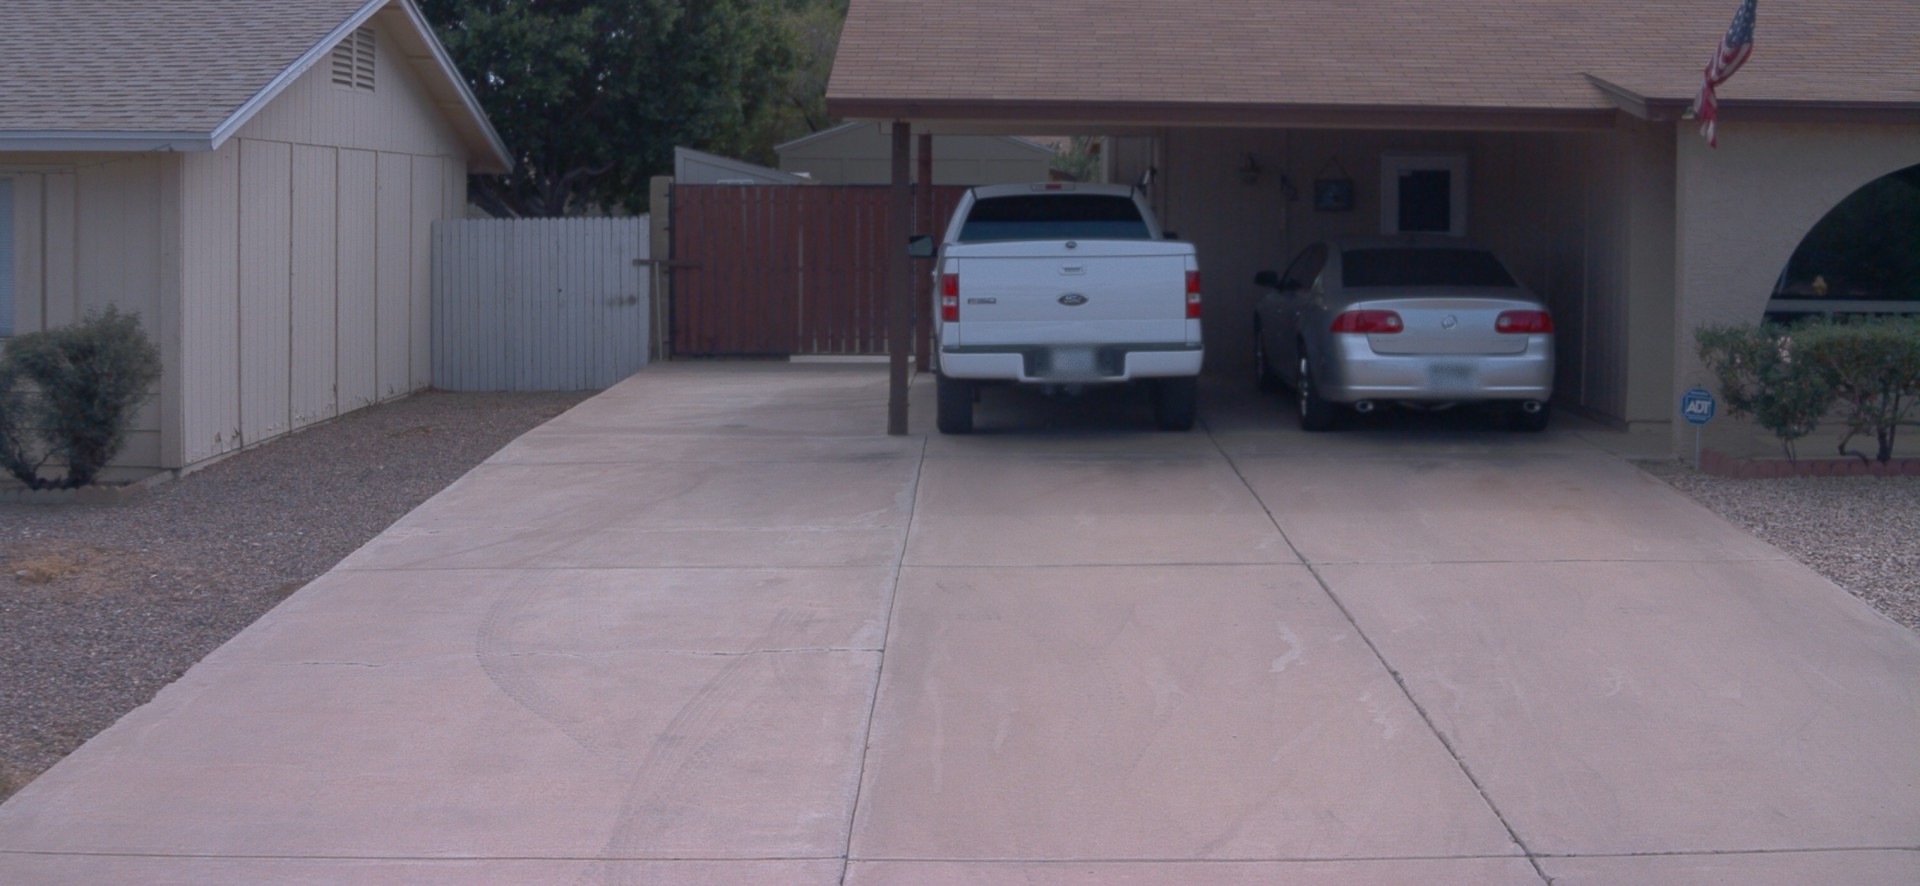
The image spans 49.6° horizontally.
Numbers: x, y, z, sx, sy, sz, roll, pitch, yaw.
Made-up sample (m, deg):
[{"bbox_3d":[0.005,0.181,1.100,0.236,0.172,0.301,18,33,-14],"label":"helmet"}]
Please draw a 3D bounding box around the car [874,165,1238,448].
[{"bbox_3d":[0.641,-1.237,17.184,2.502,1.932,5.806,0,5,-1],"label":"car"}]

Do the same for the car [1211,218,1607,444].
[{"bbox_3d":[3.395,-1.036,16.846,2.141,1.543,5.170,0,5,0],"label":"car"}]
